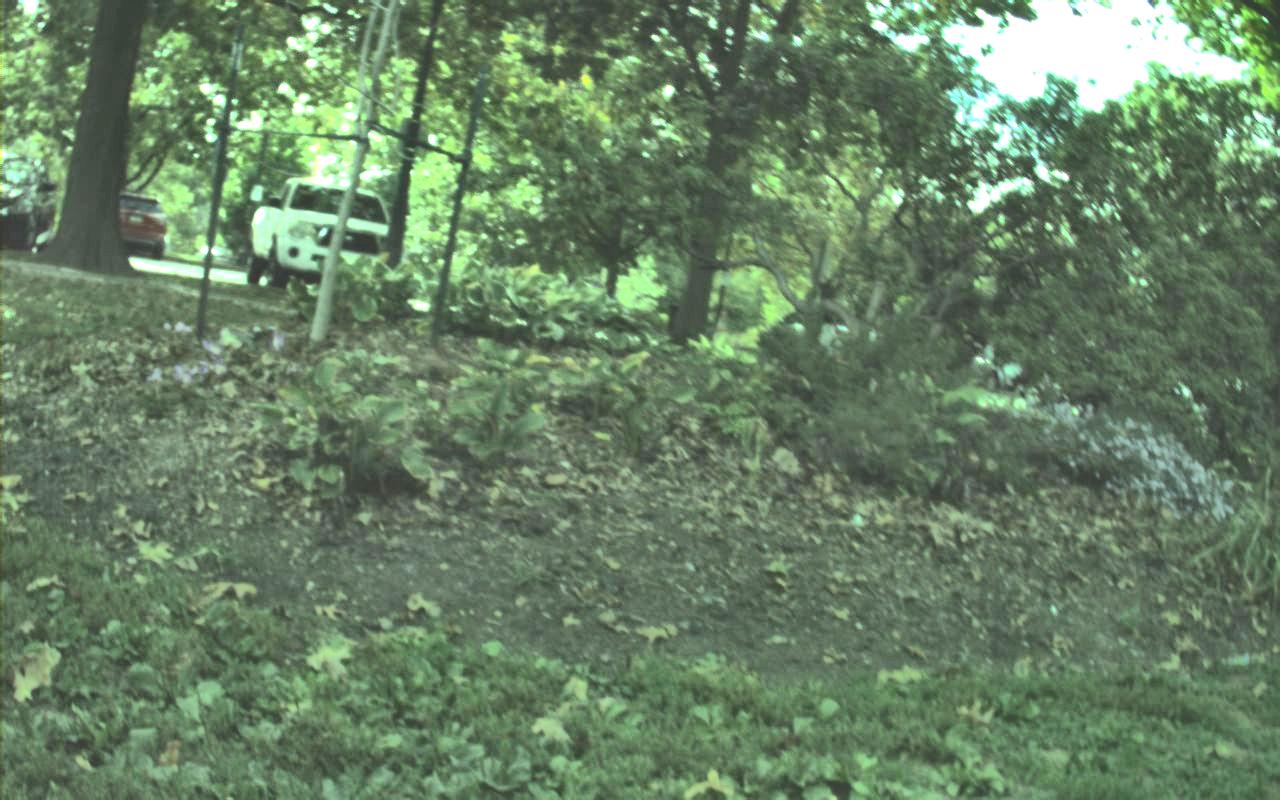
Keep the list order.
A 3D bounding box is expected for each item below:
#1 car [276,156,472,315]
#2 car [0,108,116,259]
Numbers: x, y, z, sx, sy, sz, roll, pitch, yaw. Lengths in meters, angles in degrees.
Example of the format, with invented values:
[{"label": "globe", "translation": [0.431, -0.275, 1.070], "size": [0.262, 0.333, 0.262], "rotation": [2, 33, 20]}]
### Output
[{"label": "car", "translation": [-4.161, -2.301, 18.514], "size": [2.090, 1.850, 4.851], "rotation": [0, 1, -23]}, {"label": "car", "translation": [-8.853, -2.978, 16.353], "size": [1.964, 1.603, 4.432], "rotation": [0, 1, -17]}]
